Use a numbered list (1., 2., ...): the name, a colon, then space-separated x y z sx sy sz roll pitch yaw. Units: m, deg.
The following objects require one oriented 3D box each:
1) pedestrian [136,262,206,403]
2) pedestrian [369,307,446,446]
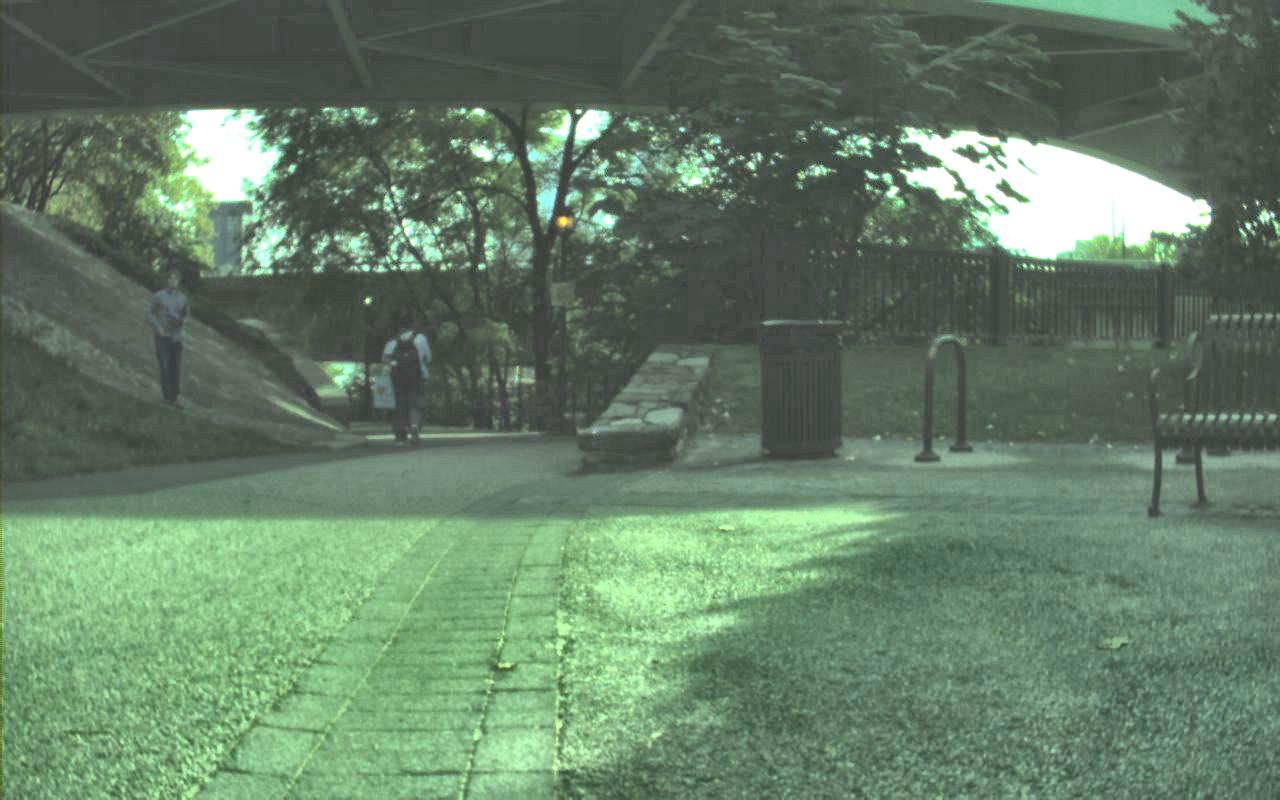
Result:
1. pedestrian: -6.275 -0.854 15.771 0.781 1.825 0.763 0 0 -38
2. pedestrian: -2.908 -0.290 15.454 0.880 1.672 0.886 0 0 -16
